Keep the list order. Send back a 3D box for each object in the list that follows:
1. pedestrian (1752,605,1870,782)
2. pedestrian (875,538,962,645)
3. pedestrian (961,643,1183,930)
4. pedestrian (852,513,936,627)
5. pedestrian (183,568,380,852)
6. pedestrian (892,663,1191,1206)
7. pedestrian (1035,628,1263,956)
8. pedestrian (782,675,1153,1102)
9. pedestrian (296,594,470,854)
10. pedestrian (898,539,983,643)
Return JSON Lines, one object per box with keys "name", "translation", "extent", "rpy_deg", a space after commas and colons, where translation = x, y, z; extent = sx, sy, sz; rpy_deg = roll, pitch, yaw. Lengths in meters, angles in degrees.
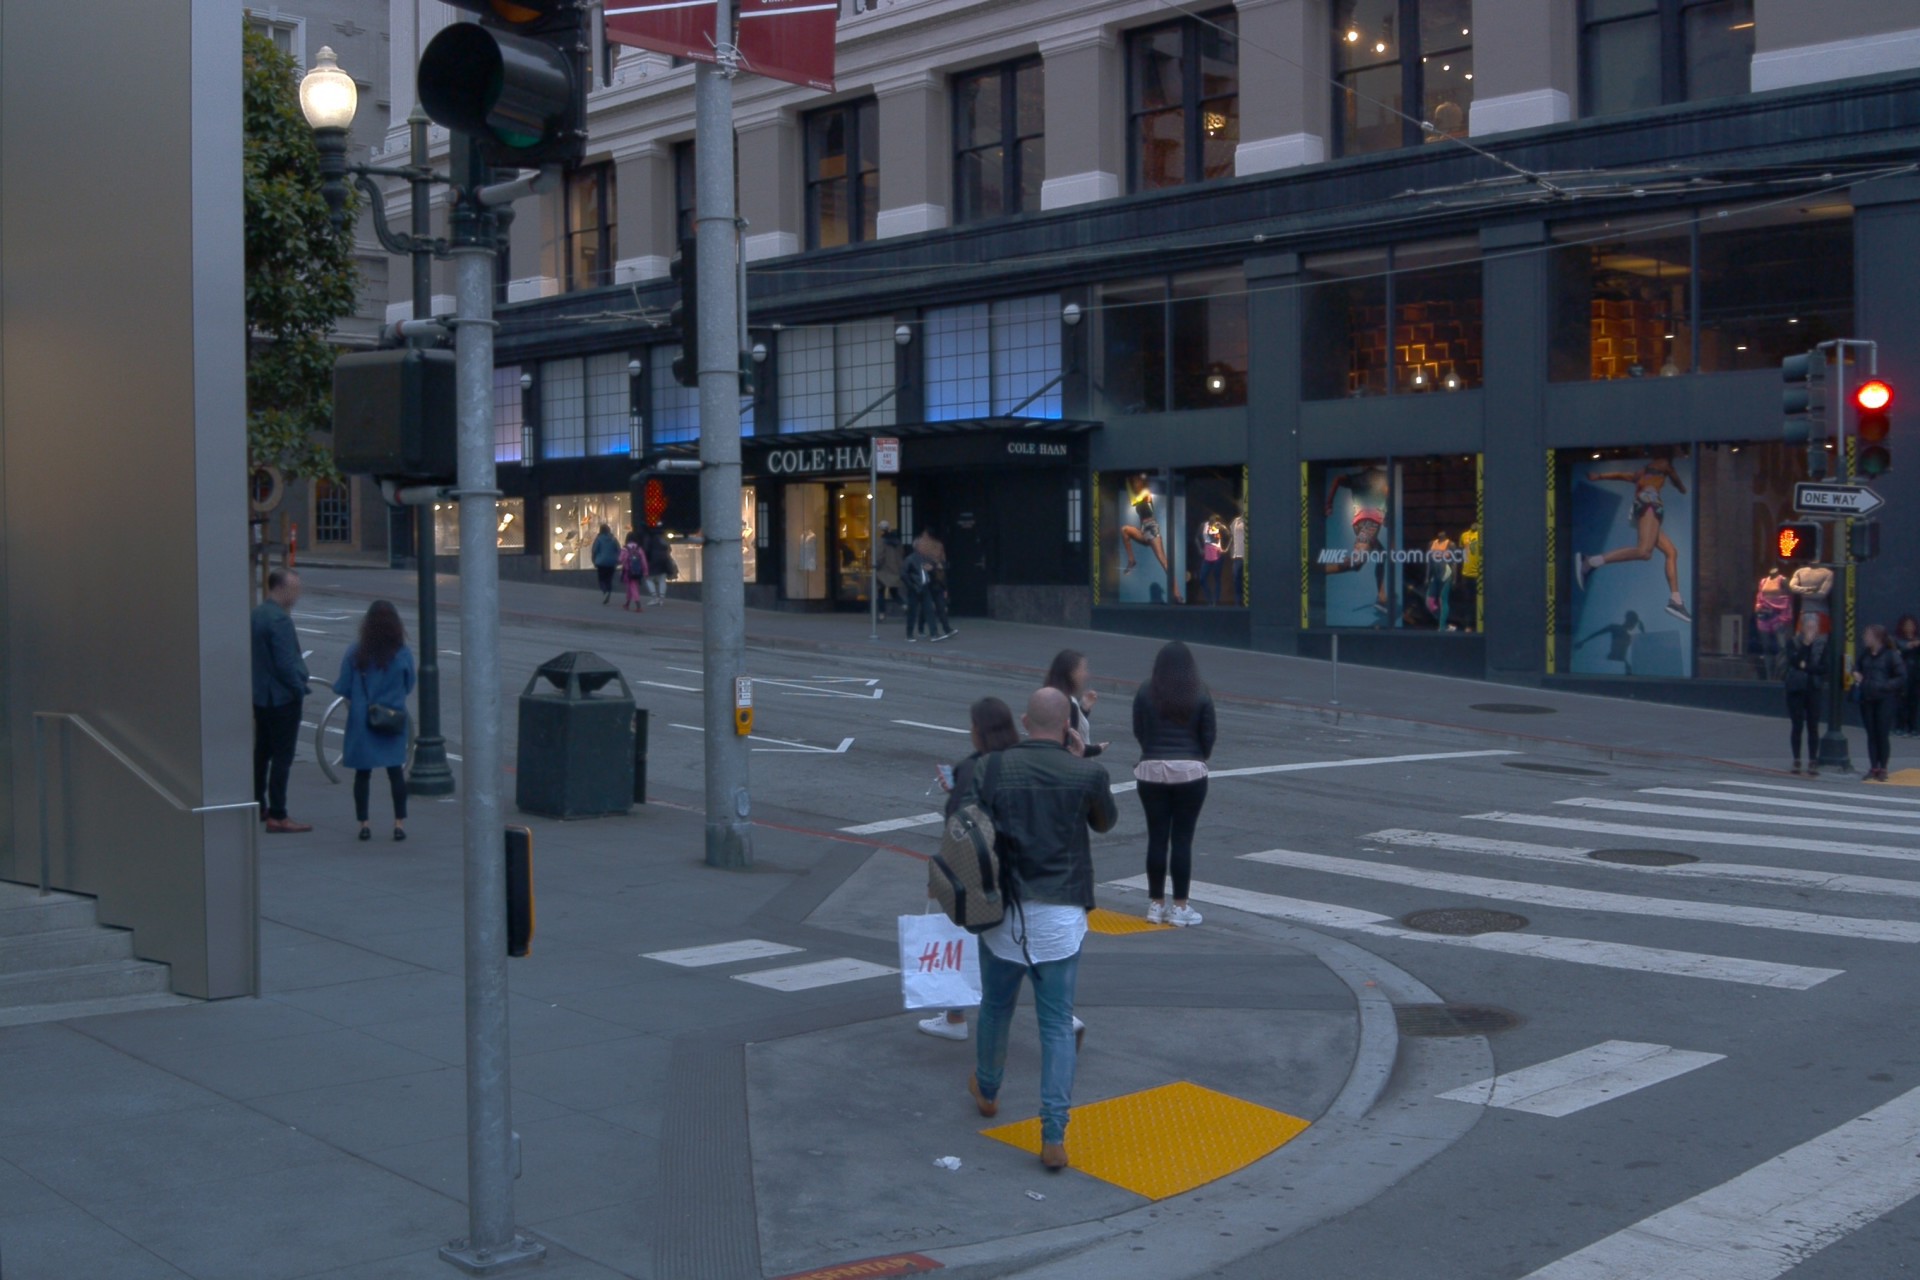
{"name": "pedestrian", "translation": [8.945, 0.534, 21.527], "extent": [0.895, 1.800, 1.088], "rpy_deg": [1, 1, 36]}
{"name": "pedestrian", "translation": [-0.660, -0.762, 32.494], "extent": [0.891, 1.650, 1.047], "rpy_deg": [-1, 1, -45]}
{"name": "pedestrian", "translation": [0.708, 0.887, 13.087], "extent": [1.003, 1.710, 0.997], "rpy_deg": [0, 1, -36]}
{"name": "pedestrian", "translation": [-1.143, -1.193, 35.421], "extent": [0.963, 1.920, 1.104], "rpy_deg": [-1, 1, -44]}
{"name": "pedestrian", "translation": [-4.880, 0.471, 14.750], "extent": [0.981, 1.960, 0.939], "rpy_deg": [1, 1, 33]}
{"name": "pedestrian", "translation": [0.265, 1.009, 7.582], "extent": [0.929, 1.820, 1.124], "rpy_deg": [0, 1, -7]}
{"name": "pedestrian", "translation": [1.147, 0.874, 12.483], "extent": [1.113, 1.890, 0.813], "rpy_deg": [0, 1, -31]}
{"name": "pedestrian", "translation": [0.037, 1.000, 8.915], "extent": [1.097, 1.640, 1.174], "rpy_deg": [1, 1, 44]}
{"name": "pedestrian", "translation": [-4.045, 0.555, 14.365], "extent": [0.951, 1.750, 0.801], "rpy_deg": [0, 1, -37]}
{"name": "pedestrian", "translation": [-0.310, -0.785, 33.058], "extent": [0.891, 1.650, 1.047], "rpy_deg": [-1, 1, -45]}
